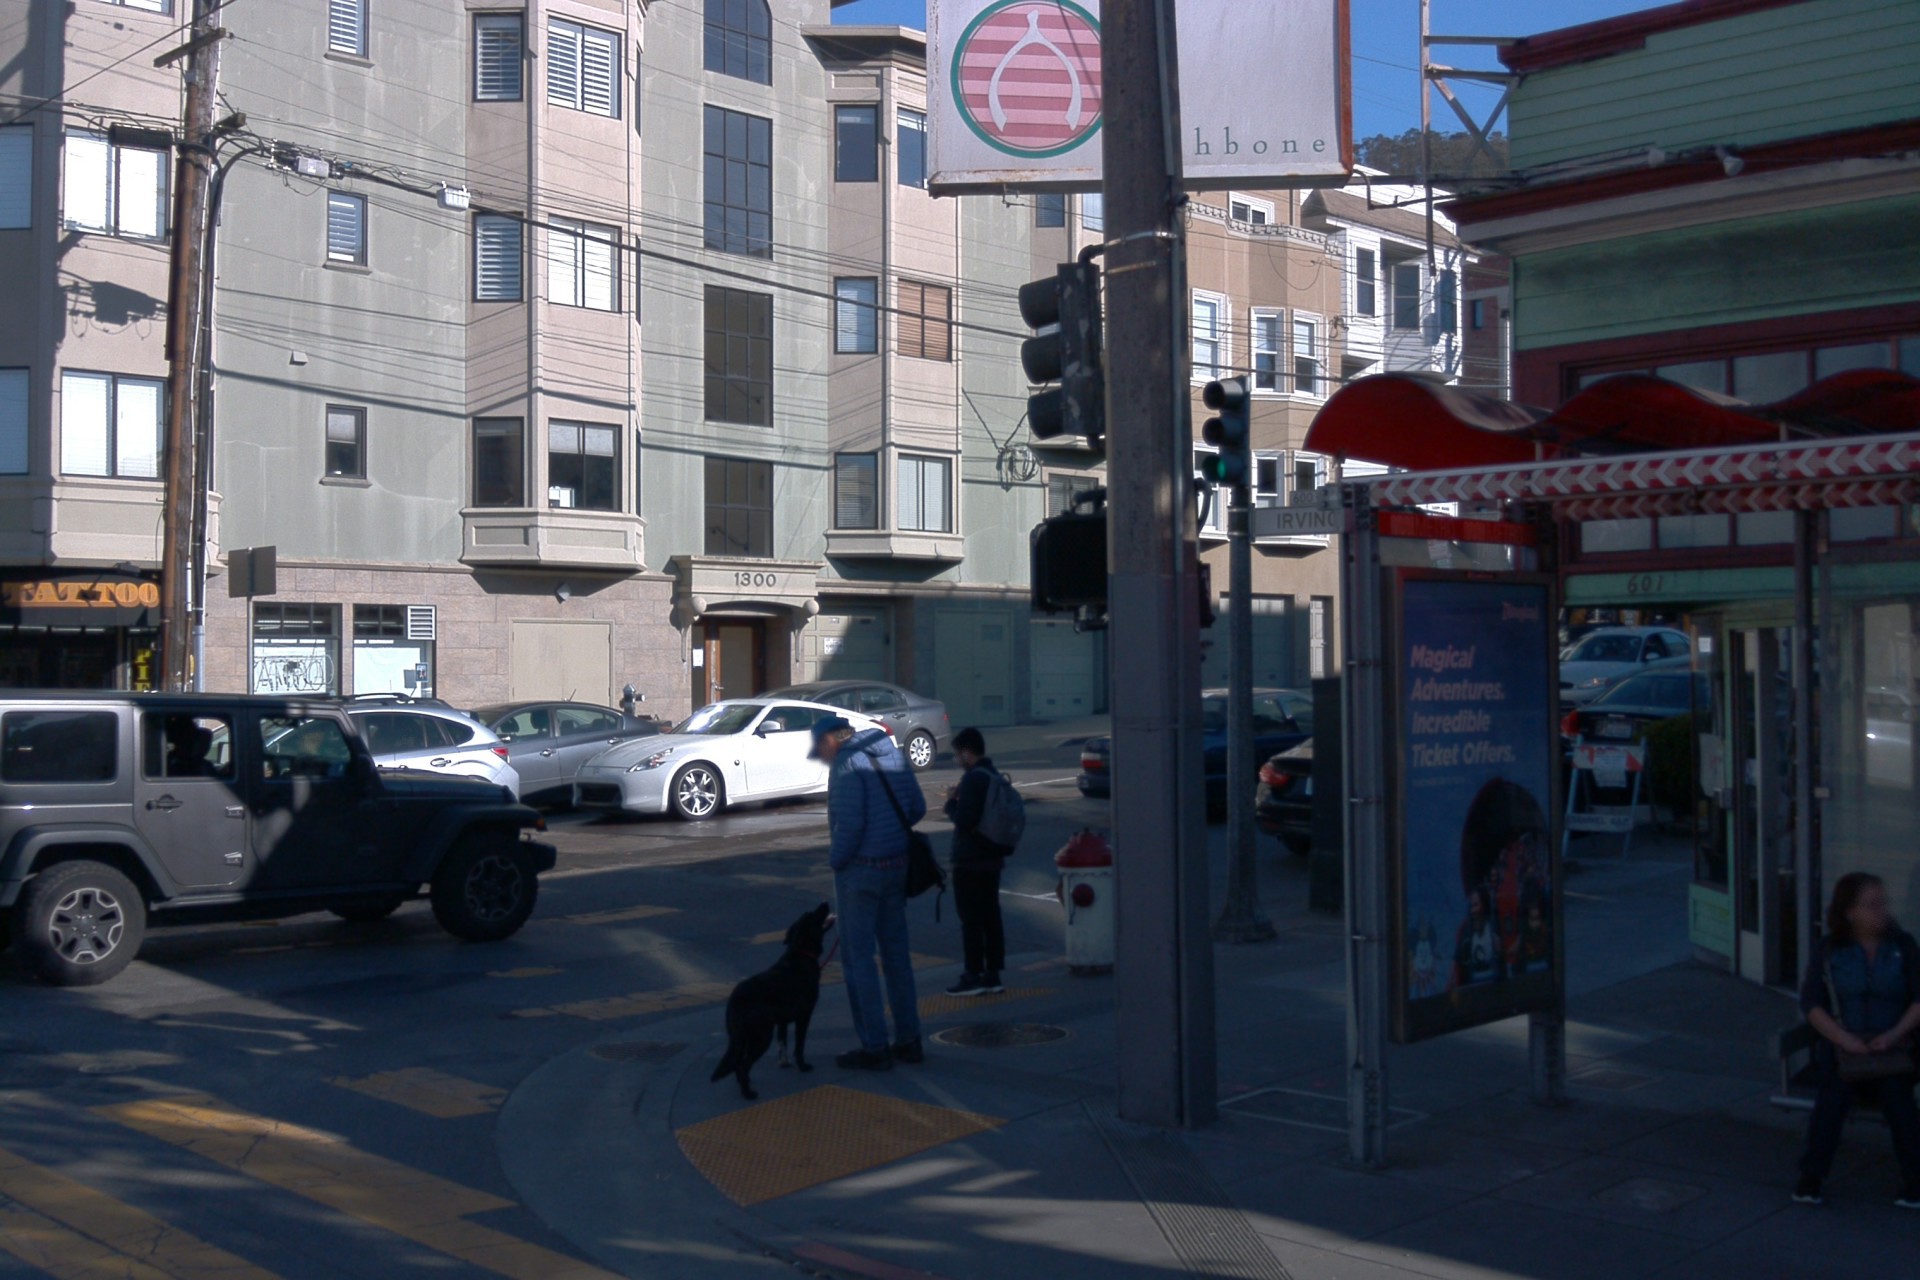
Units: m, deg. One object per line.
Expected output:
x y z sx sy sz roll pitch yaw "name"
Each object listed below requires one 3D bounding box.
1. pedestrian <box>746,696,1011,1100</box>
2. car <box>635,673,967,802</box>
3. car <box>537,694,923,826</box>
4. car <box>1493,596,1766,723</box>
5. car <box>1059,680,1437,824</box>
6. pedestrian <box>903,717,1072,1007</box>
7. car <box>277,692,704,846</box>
-0.404 1.222 10.448 0.894 1.860 0.955 1 0 43 "pedestrian"
-2.216 1.329 30.143 2.102 1.670 4.524 0 0 43 "car"
-2.723 1.385 25.378 4.248 1.390 2.004 1 0 -41 "car"
11.578 0.326 36.045 5.034 2.030 2.283 1 0 -43 "car"
3.275 1.162 23.177 1.876 1.380 4.494 0 0 43 "car"
0.167 1.346 13.044 0.687 1.700 0.778 0 0 -43 "pedestrian"
-5.778 1.525 26.271 2.149 1.660 4.833 0 0 44 "car"
